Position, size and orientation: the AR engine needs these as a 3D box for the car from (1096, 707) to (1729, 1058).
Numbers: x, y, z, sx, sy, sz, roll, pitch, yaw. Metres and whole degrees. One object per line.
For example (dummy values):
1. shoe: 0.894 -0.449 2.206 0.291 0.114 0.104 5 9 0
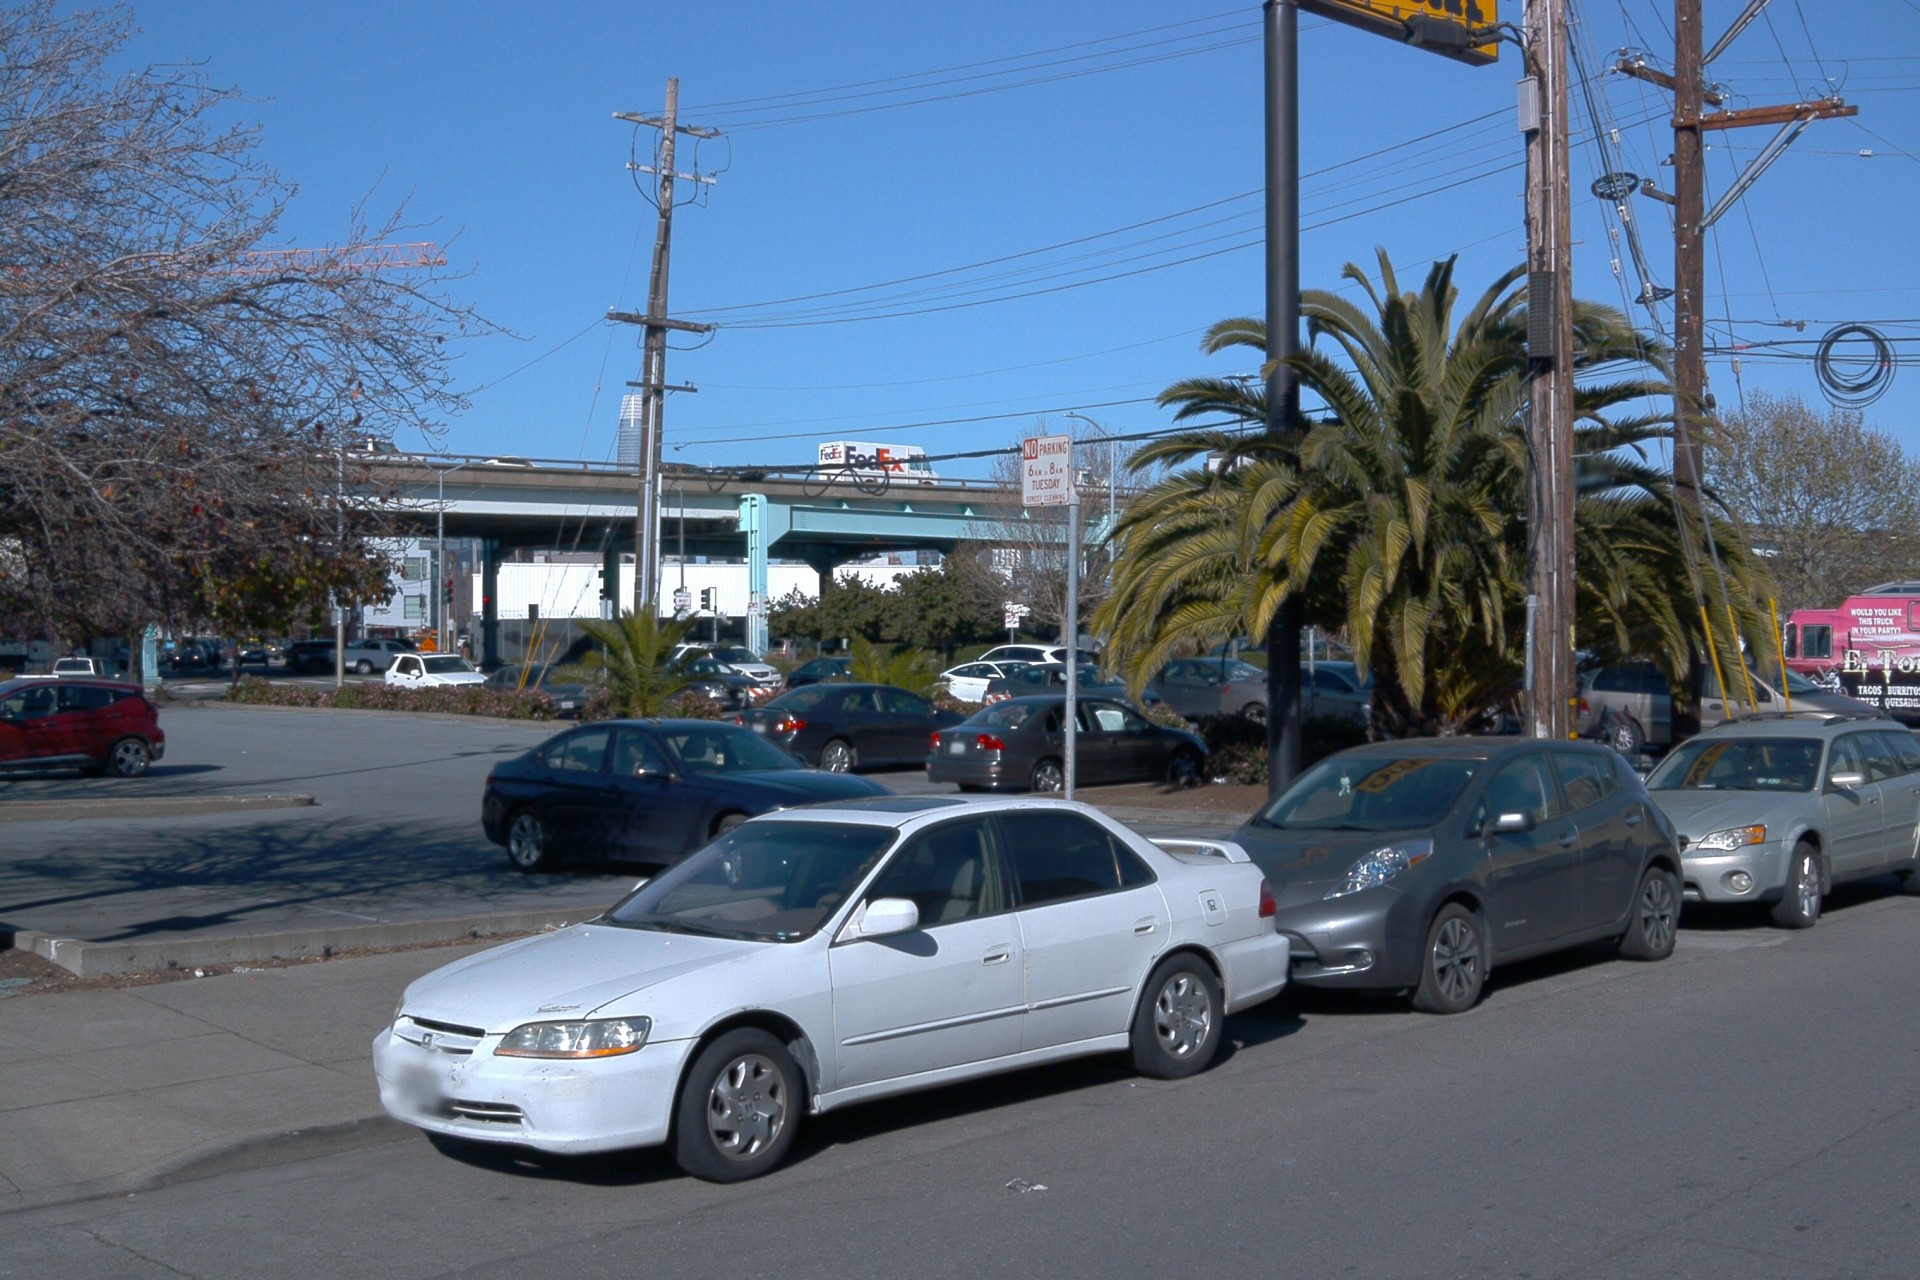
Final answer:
1. car: 3.033 1.363 13.174 1.943 1.680 4.354 1 1 44

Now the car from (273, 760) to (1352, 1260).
1. car: -0.454 1.456 9.738 4.874 1.440 2.116 0 1 -44

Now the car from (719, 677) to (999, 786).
1. car: -1.569 1.420 33.022 4.332 1.530 1.733 0 1 -41

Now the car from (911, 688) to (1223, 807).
1. car: 1.564 1.459 29.098 4.332 1.440 1.733 0 1 -39

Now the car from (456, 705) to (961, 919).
1. car: -2.402 1.461 18.902 4.573 1.510 2.073 1 1 41
